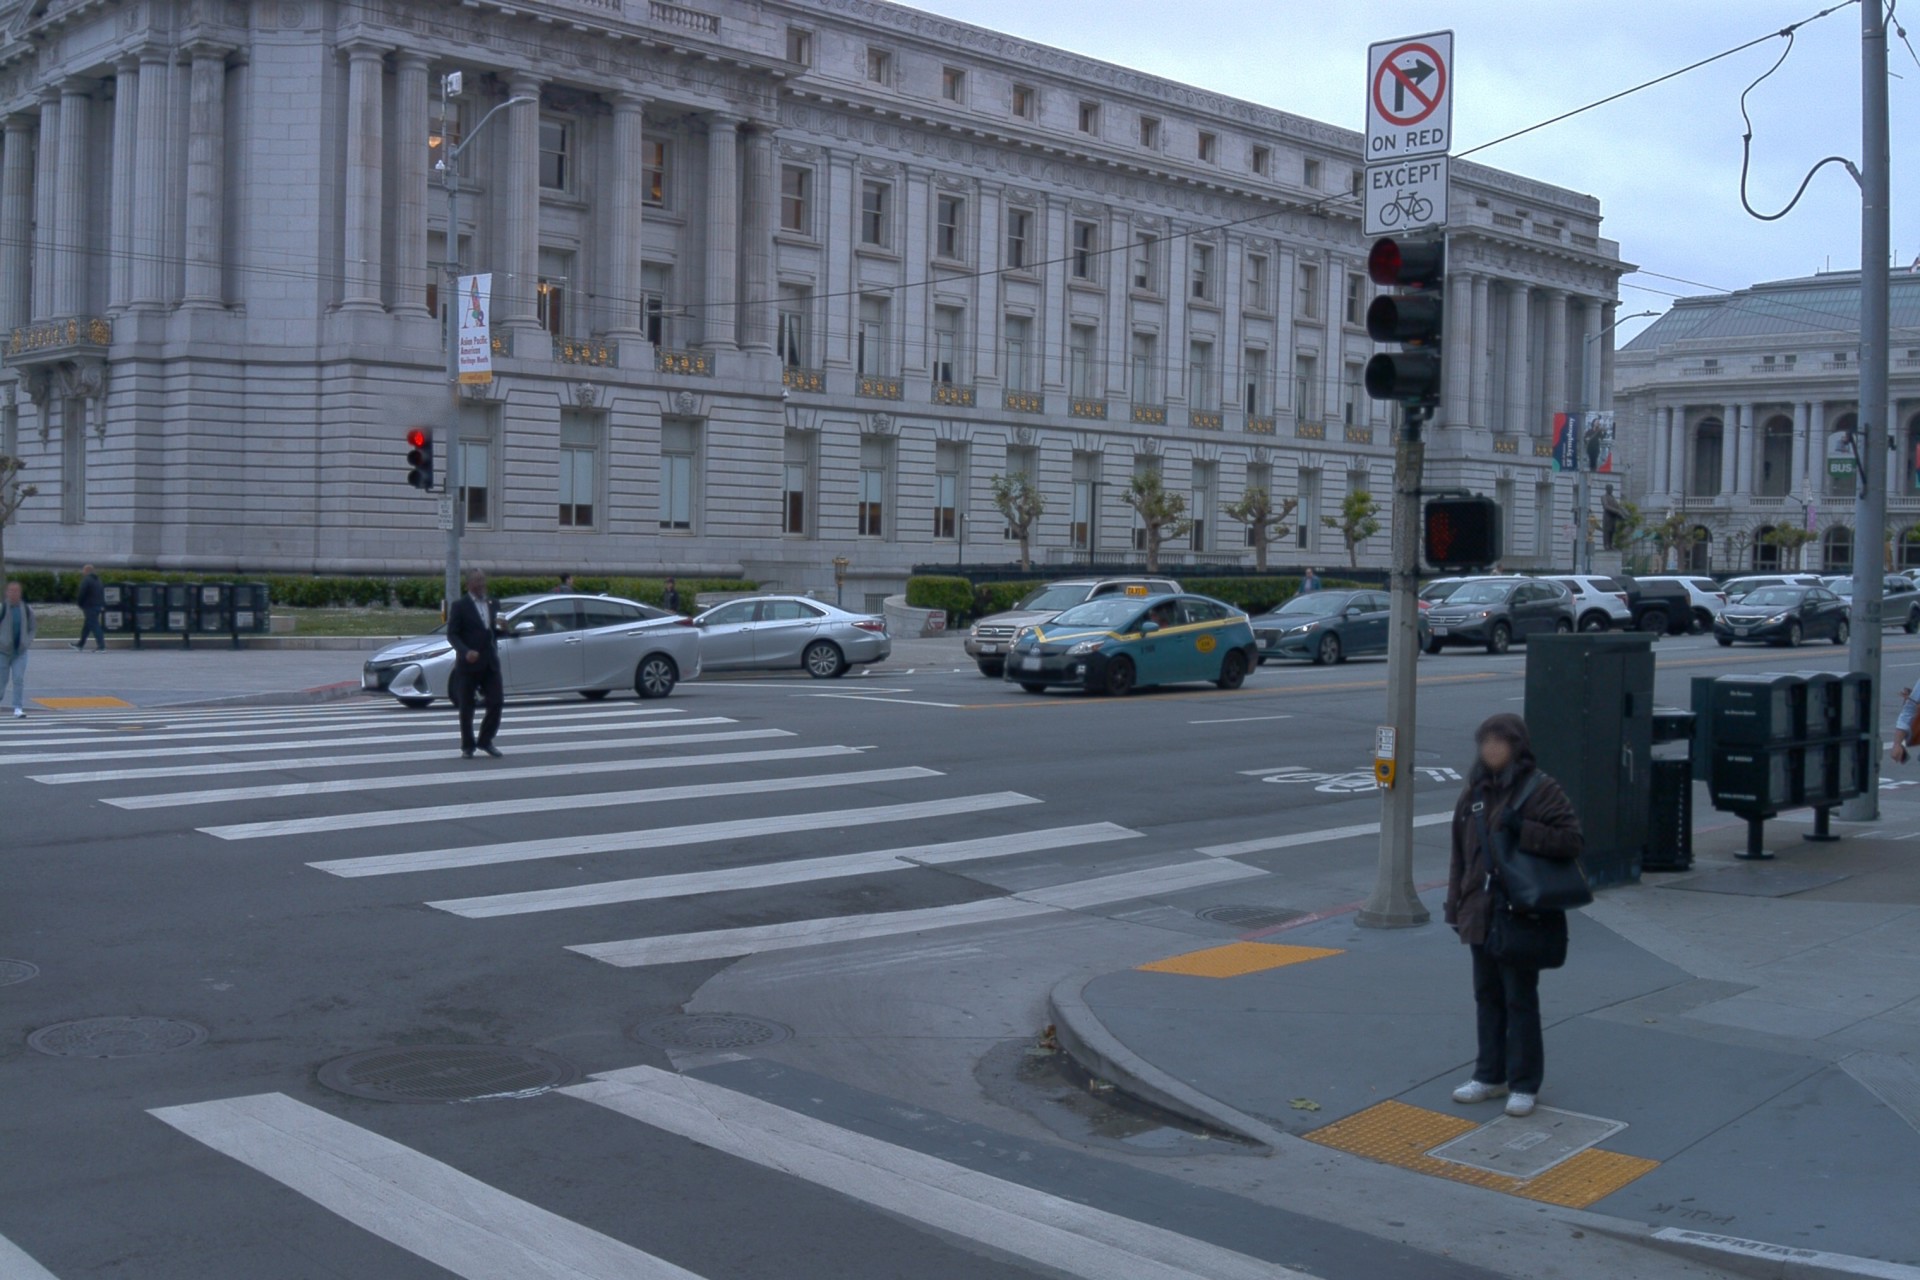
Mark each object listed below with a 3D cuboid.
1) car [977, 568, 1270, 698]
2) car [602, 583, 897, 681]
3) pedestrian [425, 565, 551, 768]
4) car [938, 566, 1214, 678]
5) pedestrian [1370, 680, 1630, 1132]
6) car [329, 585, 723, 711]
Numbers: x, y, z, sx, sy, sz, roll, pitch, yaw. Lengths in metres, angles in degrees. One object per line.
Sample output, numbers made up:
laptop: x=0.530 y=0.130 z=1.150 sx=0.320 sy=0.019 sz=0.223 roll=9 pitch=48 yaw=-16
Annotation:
car: x=2.492 y=-0.117 z=30.697 sx=2.040 sy=1.787 sz=4.328 roll=1 pitch=1 yaw=44
car: x=-3.634 y=-0.140 z=36.326 sx=4.904 sy=1.667 sz=2.106 roll=0 pitch=1 yaw=4
pedestrian: x=-4.440 y=0.233 z=19.415 sx=0.806 sy=1.850 sz=0.957 roll=-1 pitch=1 yaw=-39
car: x=2.072 y=-0.314 z=35.751 sx=2.180 sy=1.800 sz=4.766 roll=1 pitch=1 yaw=44
pedestrian: x=2.203 y=1.032 z=8.444 sx=0.805 sy=1.710 sz=0.666 roll=1 pitch=1 yaw=43
car: x=-5.703 y=0.072 z=27.483 sx=4.666 sy=1.540 sz=2.143 roll=-1 pitch=1 yaw=-41
